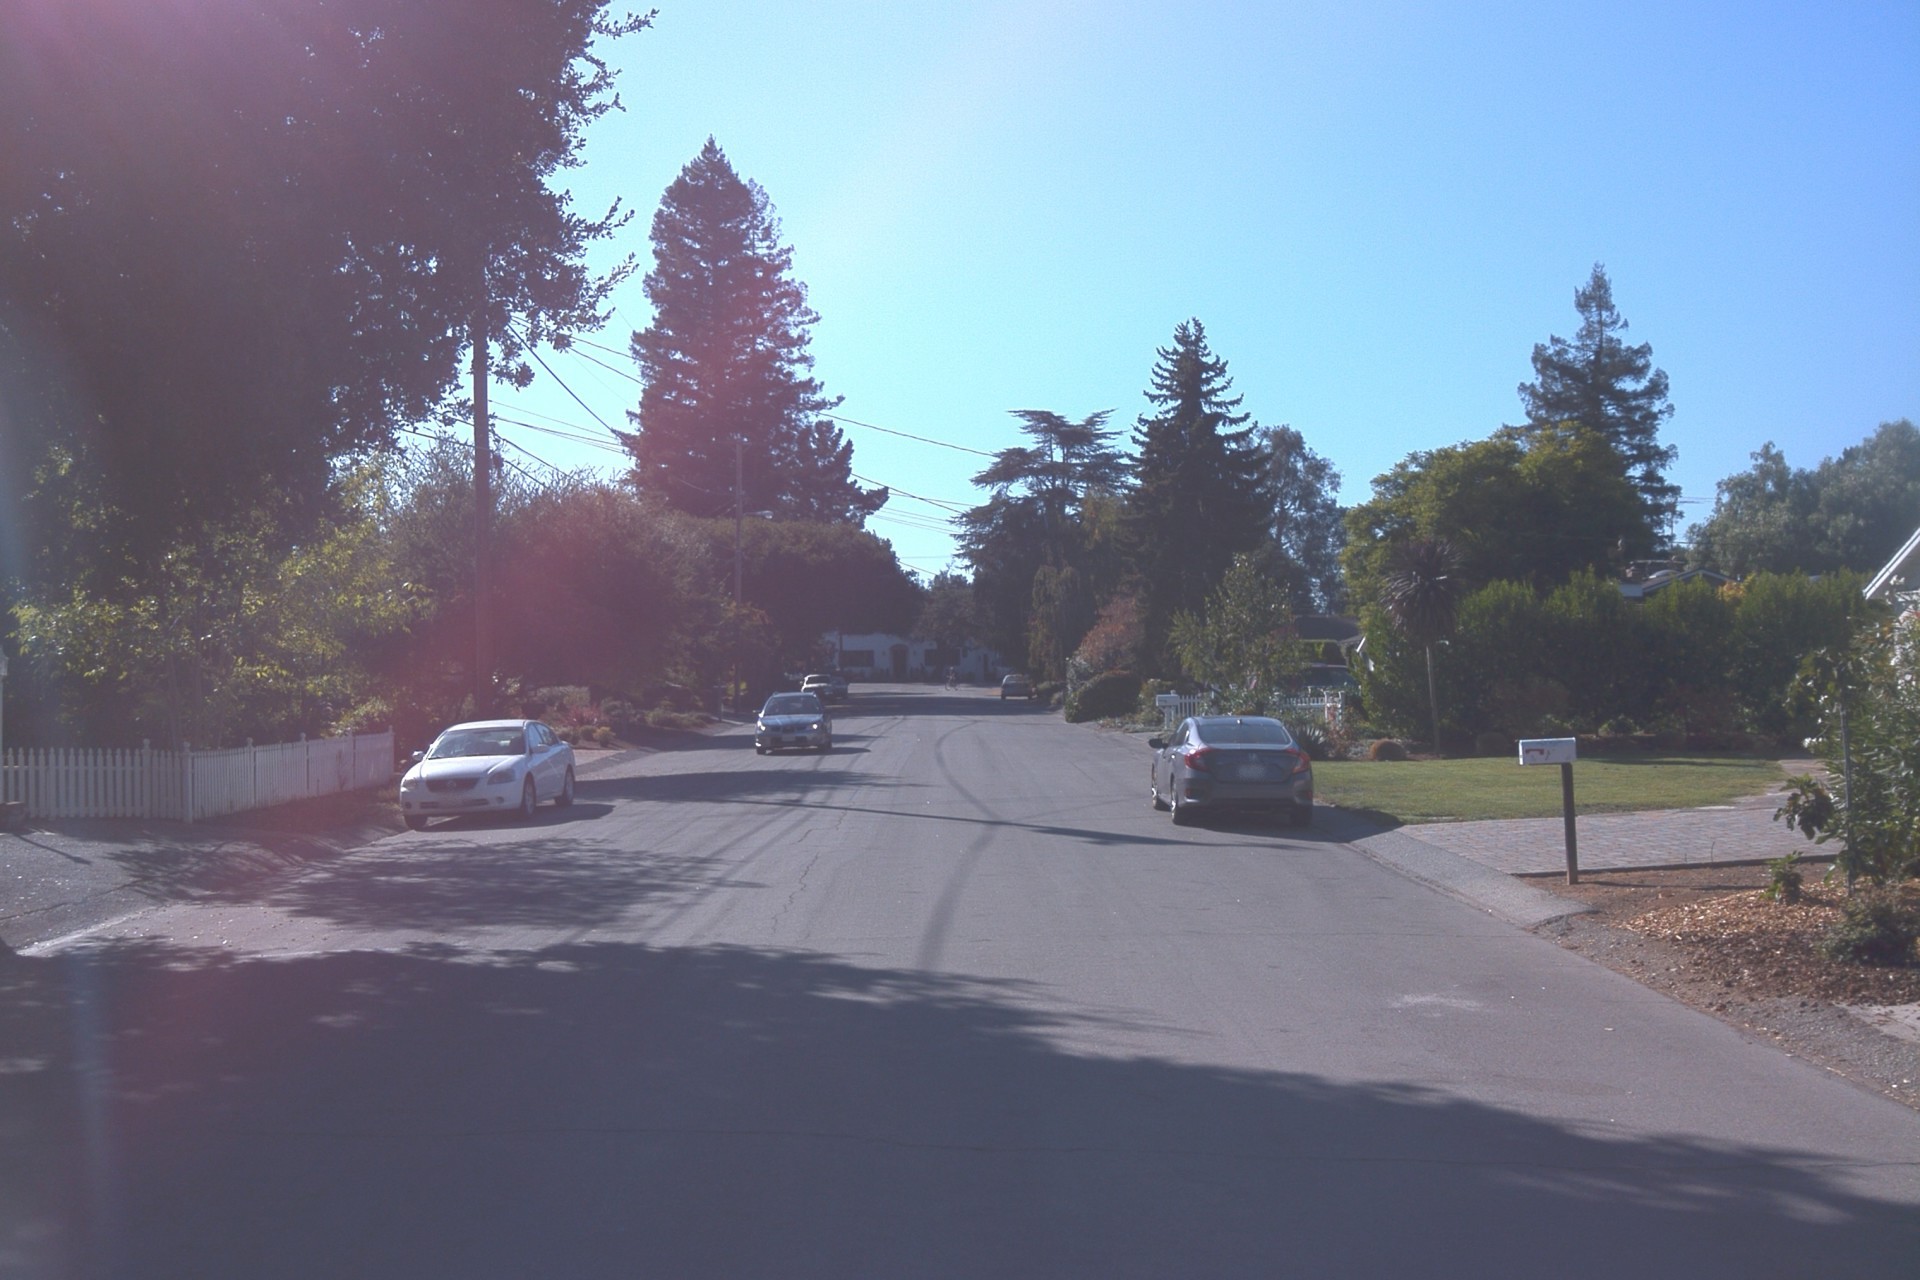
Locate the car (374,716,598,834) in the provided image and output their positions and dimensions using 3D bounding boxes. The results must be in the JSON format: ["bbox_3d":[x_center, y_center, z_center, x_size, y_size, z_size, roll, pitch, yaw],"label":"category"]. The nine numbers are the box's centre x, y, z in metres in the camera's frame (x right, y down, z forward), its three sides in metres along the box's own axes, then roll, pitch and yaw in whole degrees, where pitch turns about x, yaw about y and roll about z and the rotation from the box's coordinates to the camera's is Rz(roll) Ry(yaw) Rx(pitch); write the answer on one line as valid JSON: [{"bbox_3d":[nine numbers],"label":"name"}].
[{"bbox_3d":[-7.099,1.987,31.607,2.161,1.530,4.990,0,-1,2],"label":"car"}]

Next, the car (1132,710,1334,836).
[{"bbox_3d":[3.606,1.736,28.236,2.130,1.460,4.738,0,-1,0],"label":"car"}]
